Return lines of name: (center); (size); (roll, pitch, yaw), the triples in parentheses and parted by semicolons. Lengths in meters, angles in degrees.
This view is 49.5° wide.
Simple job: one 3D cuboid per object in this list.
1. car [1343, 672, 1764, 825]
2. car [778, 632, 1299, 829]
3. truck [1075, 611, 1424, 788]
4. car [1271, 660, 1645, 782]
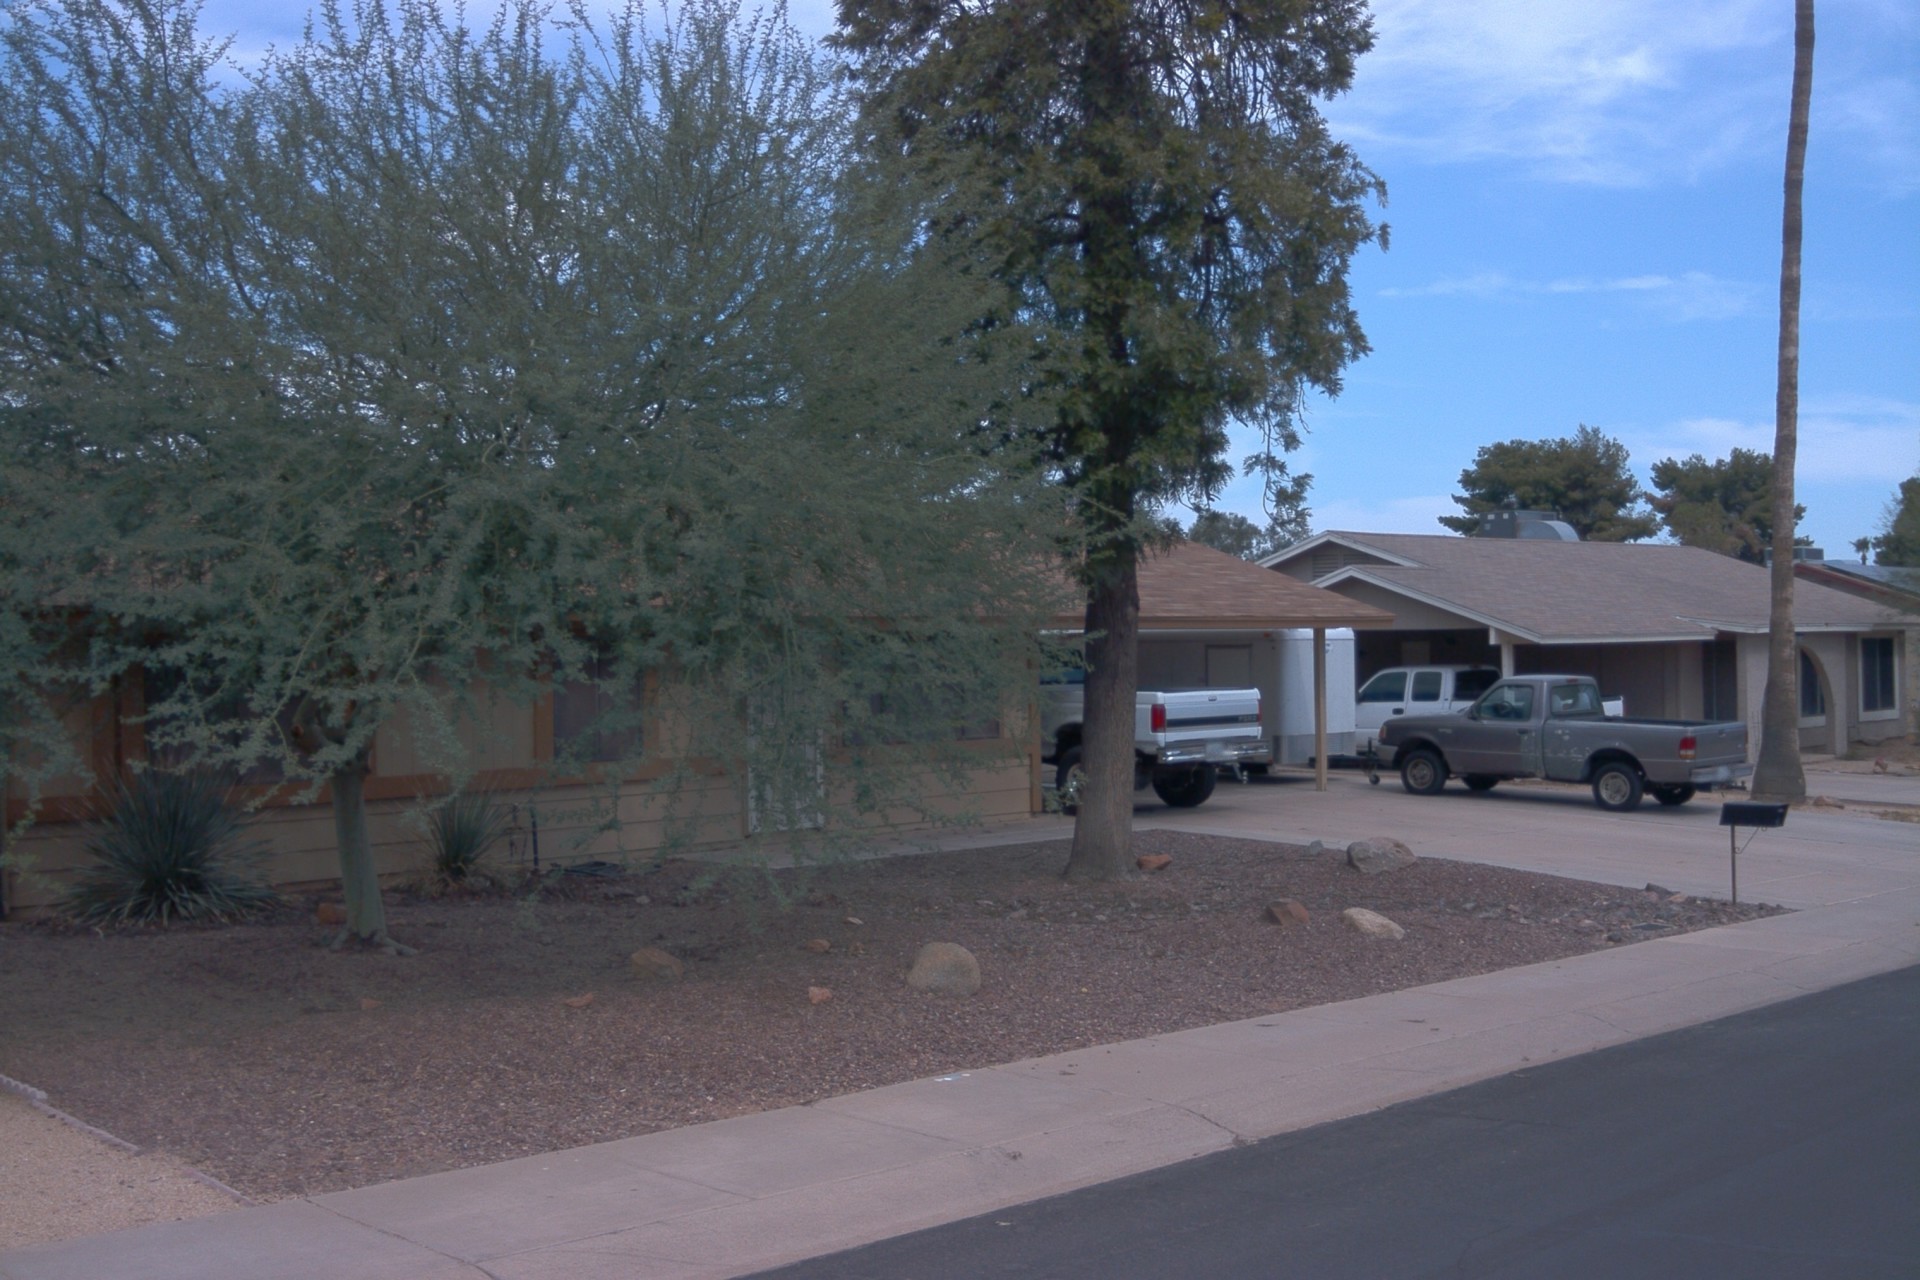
car: (7.612, 1.318, 27.063); (4.849, 1.760, 2.087); (0, 0, 45)
car: (0.805, 1.006, 26.201); (2.567, 2.170, 6.579); (0, 0, -44)
truck: (4.188, 0.815, 30.611); (2.372, 2.400, 4.573); (0, 0, -45)
car: (8.274, 1.275, 35.054); (2.469, 1.860, 5.674); (0, 0, -44)
